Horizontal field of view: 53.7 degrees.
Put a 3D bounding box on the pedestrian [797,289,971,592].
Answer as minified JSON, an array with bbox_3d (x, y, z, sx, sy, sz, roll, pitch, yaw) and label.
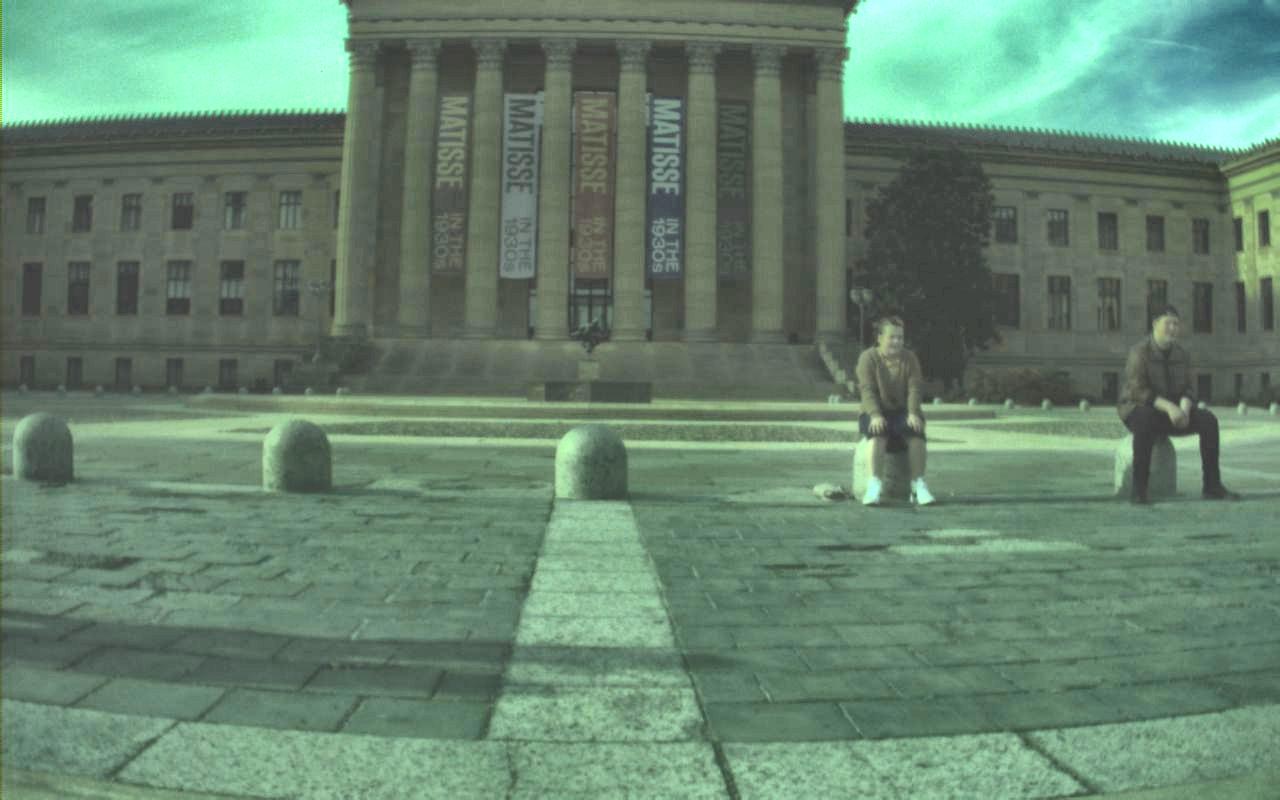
[{"bbox_3d":[1.567,0.236,7.879,0.855,1.800,0.852,1,0,30],"label":"pedestrian"}]

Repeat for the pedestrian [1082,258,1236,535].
[{"bbox_3d":[3.499,-0.013,7.913,0.793,1.760,0.806,0,0,-5],"label":"pedestrian"}]
